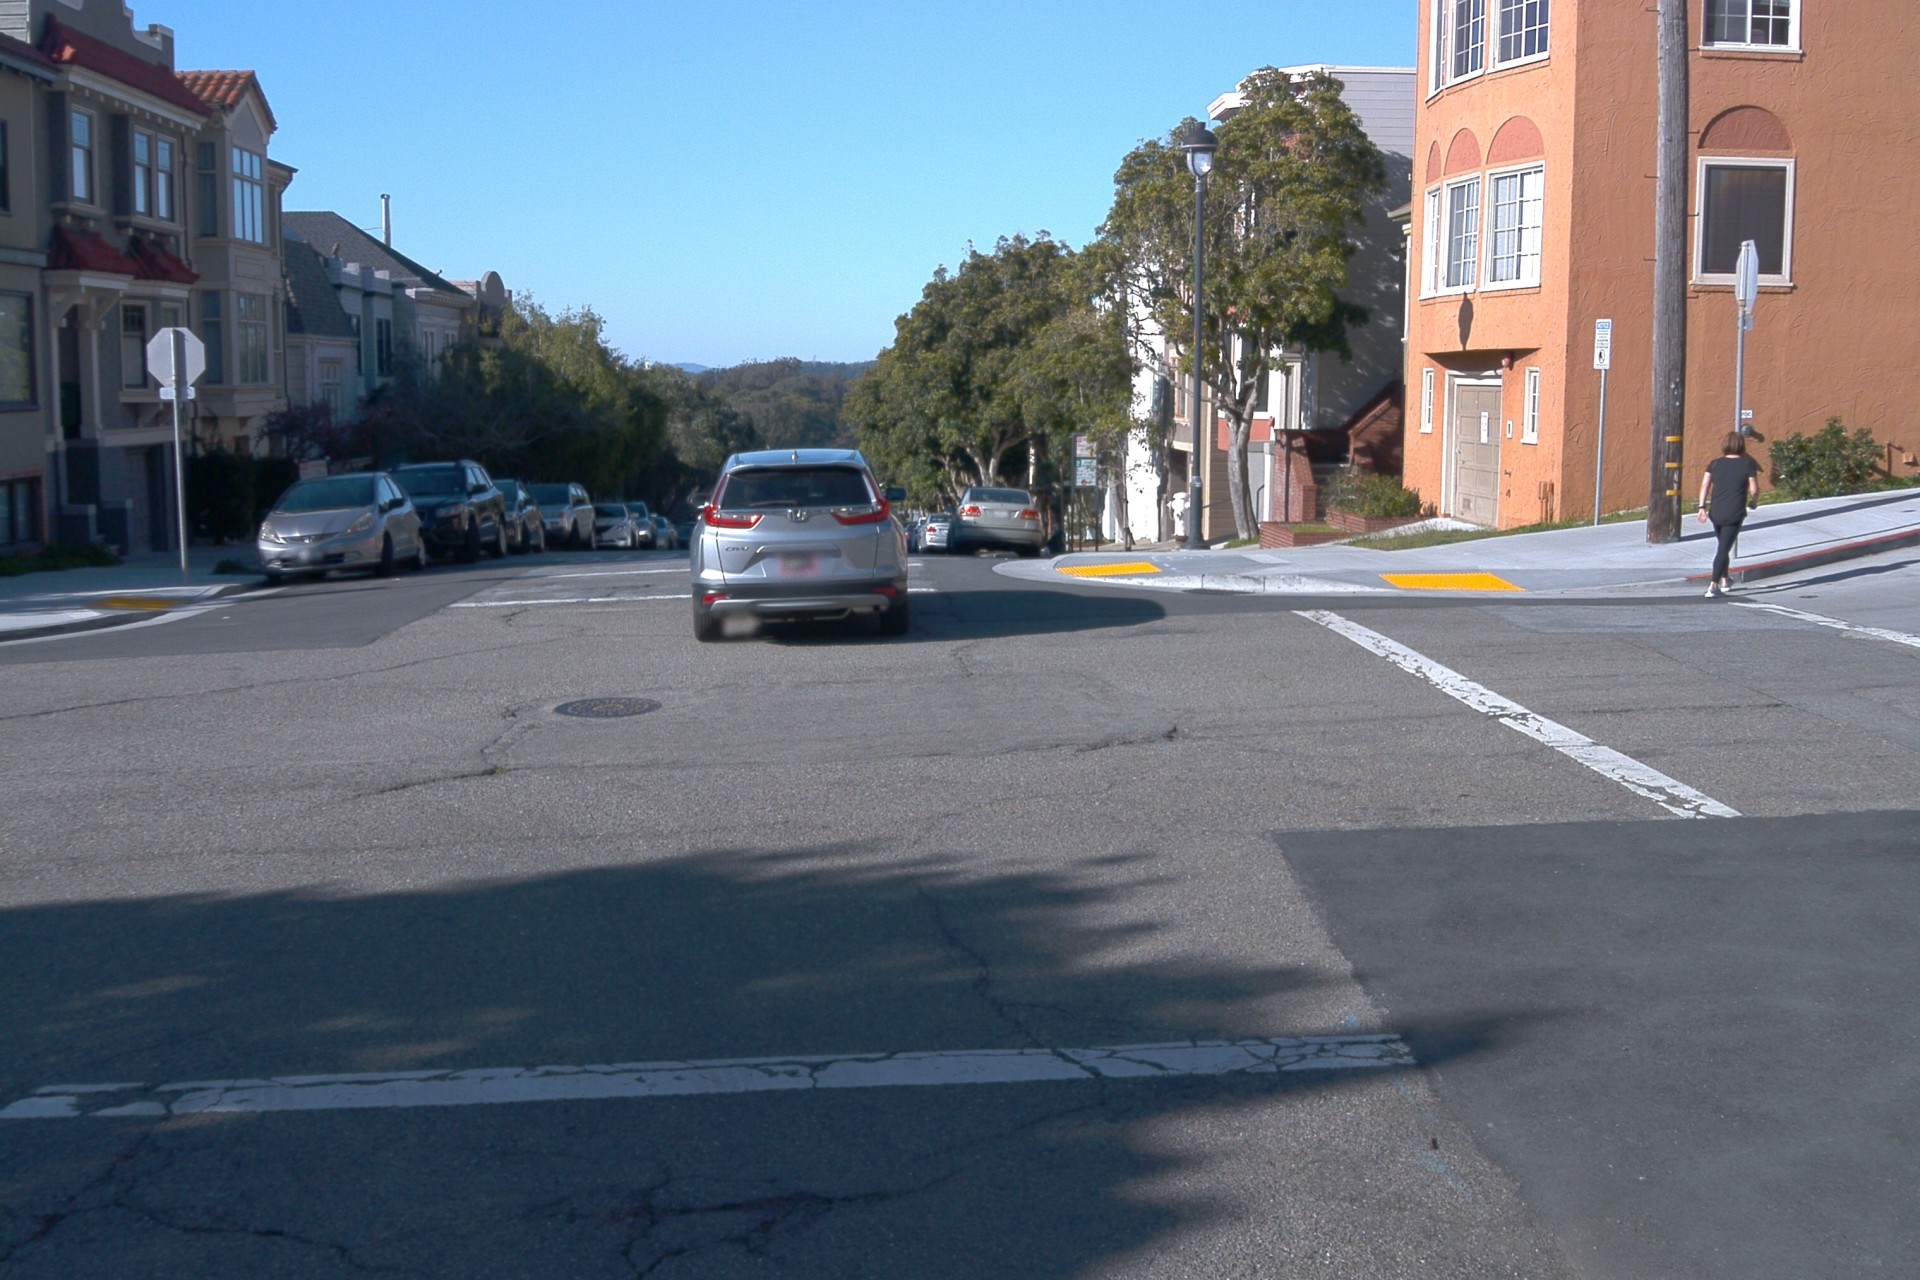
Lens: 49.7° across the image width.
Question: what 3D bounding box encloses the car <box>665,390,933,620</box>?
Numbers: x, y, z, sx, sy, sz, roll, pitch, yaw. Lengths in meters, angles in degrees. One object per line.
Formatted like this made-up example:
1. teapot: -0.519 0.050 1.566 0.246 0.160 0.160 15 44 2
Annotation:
1. car: -1.474 -1.126 19.329 2.190 1.800 4.696 0 0 -4

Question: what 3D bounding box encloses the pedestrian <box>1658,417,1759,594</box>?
1. pedestrian: 7.287 -1.280 20.150 0.731 1.620 1.128 0 0 30

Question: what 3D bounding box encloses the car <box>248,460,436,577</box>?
1. car: -8.652 -1.667 29.294 1.715 1.400 3.763 0 0 -3
